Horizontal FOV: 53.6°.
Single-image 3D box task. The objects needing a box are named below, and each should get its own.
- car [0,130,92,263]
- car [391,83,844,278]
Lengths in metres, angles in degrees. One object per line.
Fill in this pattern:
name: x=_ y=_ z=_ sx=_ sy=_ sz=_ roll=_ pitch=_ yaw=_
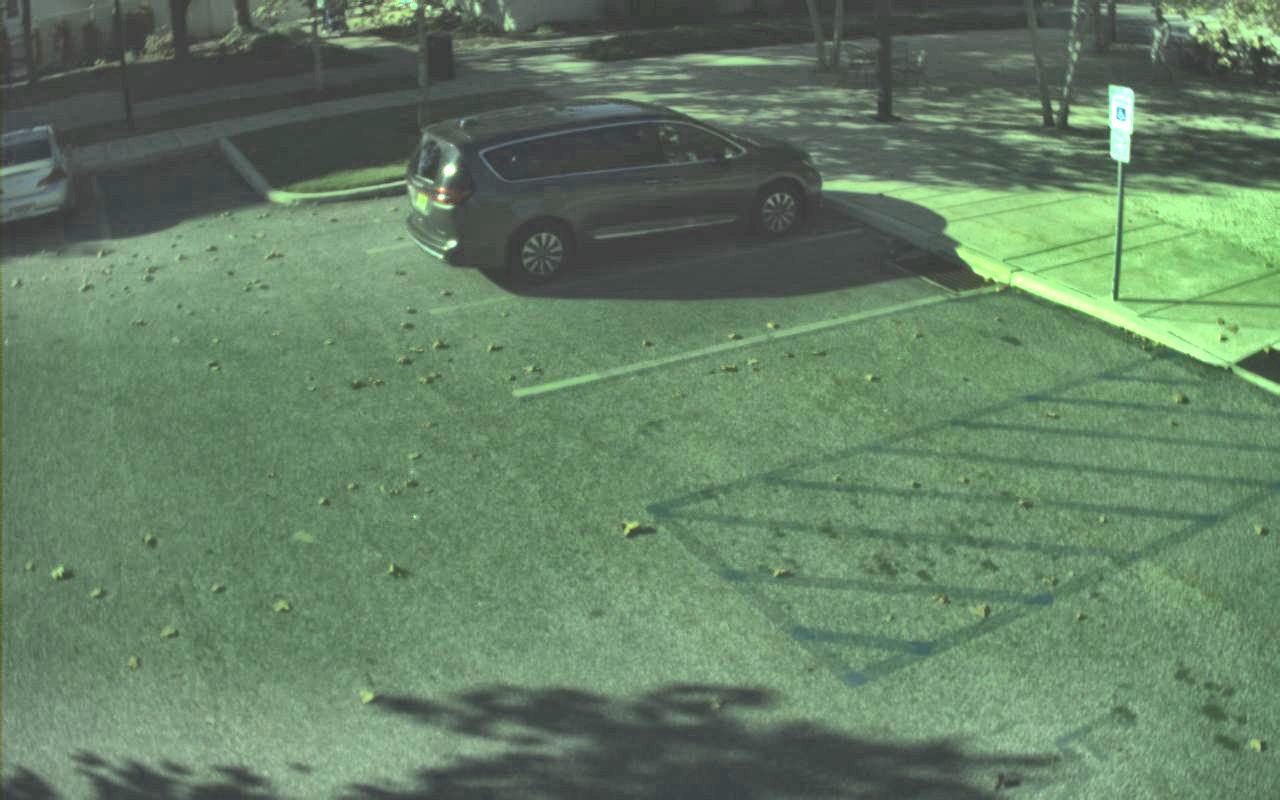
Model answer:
car: x=-10.270 y=-3.446 z=18.574 sx=1.941 sy=1.592 sz=4.432 roll=-10 pitch=19 yaw=-28
car: x=-0.227 y=-2.733 z=14.687 sx=4.975 sy=1.754 sz=2.060 roll=-9 pitch=18 yaw=-25
